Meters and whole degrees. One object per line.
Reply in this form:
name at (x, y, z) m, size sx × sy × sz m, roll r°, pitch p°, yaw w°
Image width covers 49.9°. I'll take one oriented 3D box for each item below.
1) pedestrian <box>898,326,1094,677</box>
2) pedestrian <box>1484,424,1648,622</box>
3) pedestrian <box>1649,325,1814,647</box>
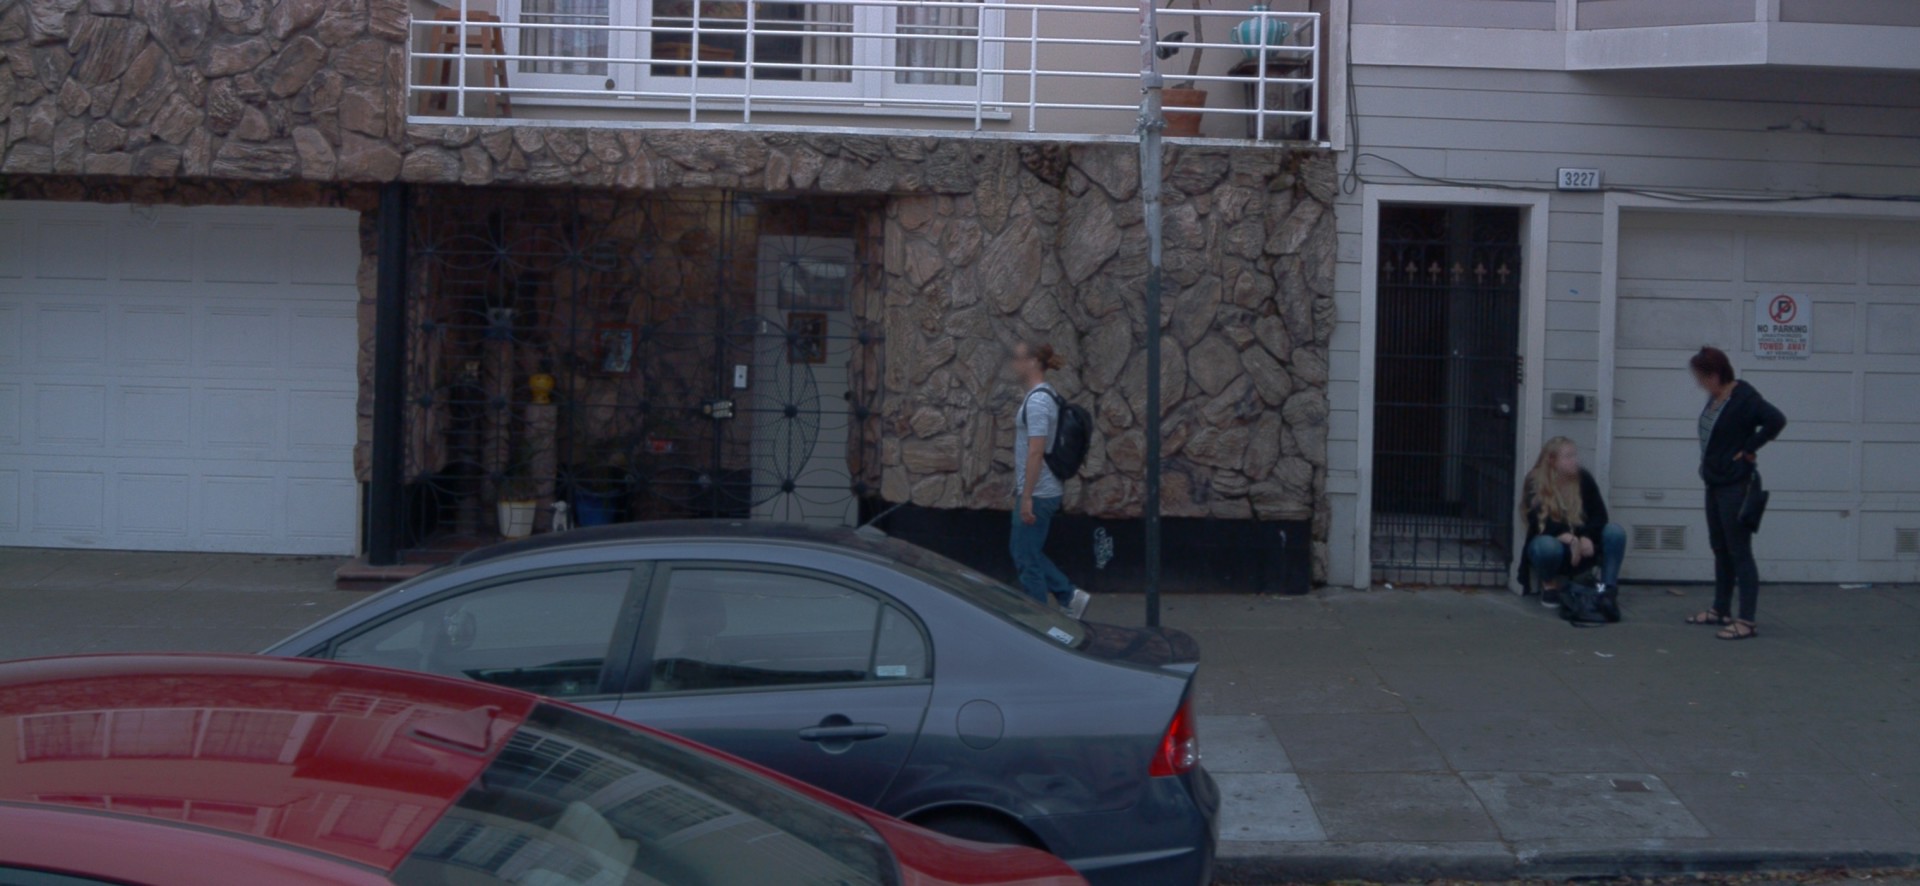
pedestrian at (0.208, 0.274, 11.023) m, size 0.935 × 1.747 × 0.801 m, roll 0°, pitch 2°, yaw 9°
pedestrian at (3.455, 0.440, 11.815) m, size 0.720 × 1.007 × 0.823 m, roll 0°, pitch 3°, yaw 1°
pedestrian at (4.174, 0.198, 11.207) m, size 0.603 × 1.617 × 0.935 m, roll 0°, pitch 2°, yaw 4°
